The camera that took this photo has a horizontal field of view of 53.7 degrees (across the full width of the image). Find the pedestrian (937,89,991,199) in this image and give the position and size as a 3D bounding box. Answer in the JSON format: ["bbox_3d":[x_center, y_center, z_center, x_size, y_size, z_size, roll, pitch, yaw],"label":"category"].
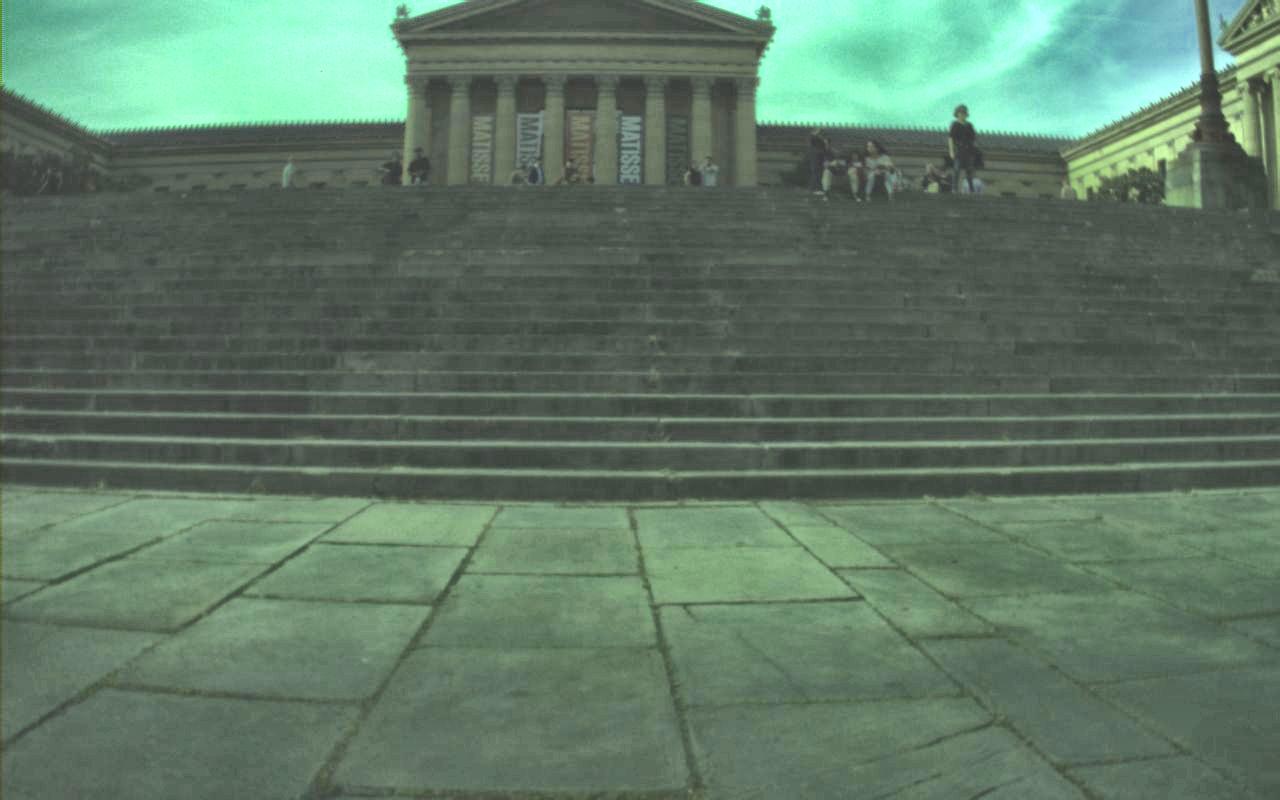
[{"bbox_3d":[5.592,-4.396,21.013,0.747,1.808,0.720,0,0,-1],"label":"pedestrian"}]

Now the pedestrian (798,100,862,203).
[{"bbox_3d":[3.085,-4.012,20.121,0.737,1.542,0.768,1,0,41],"label":"pedestrian"}]
